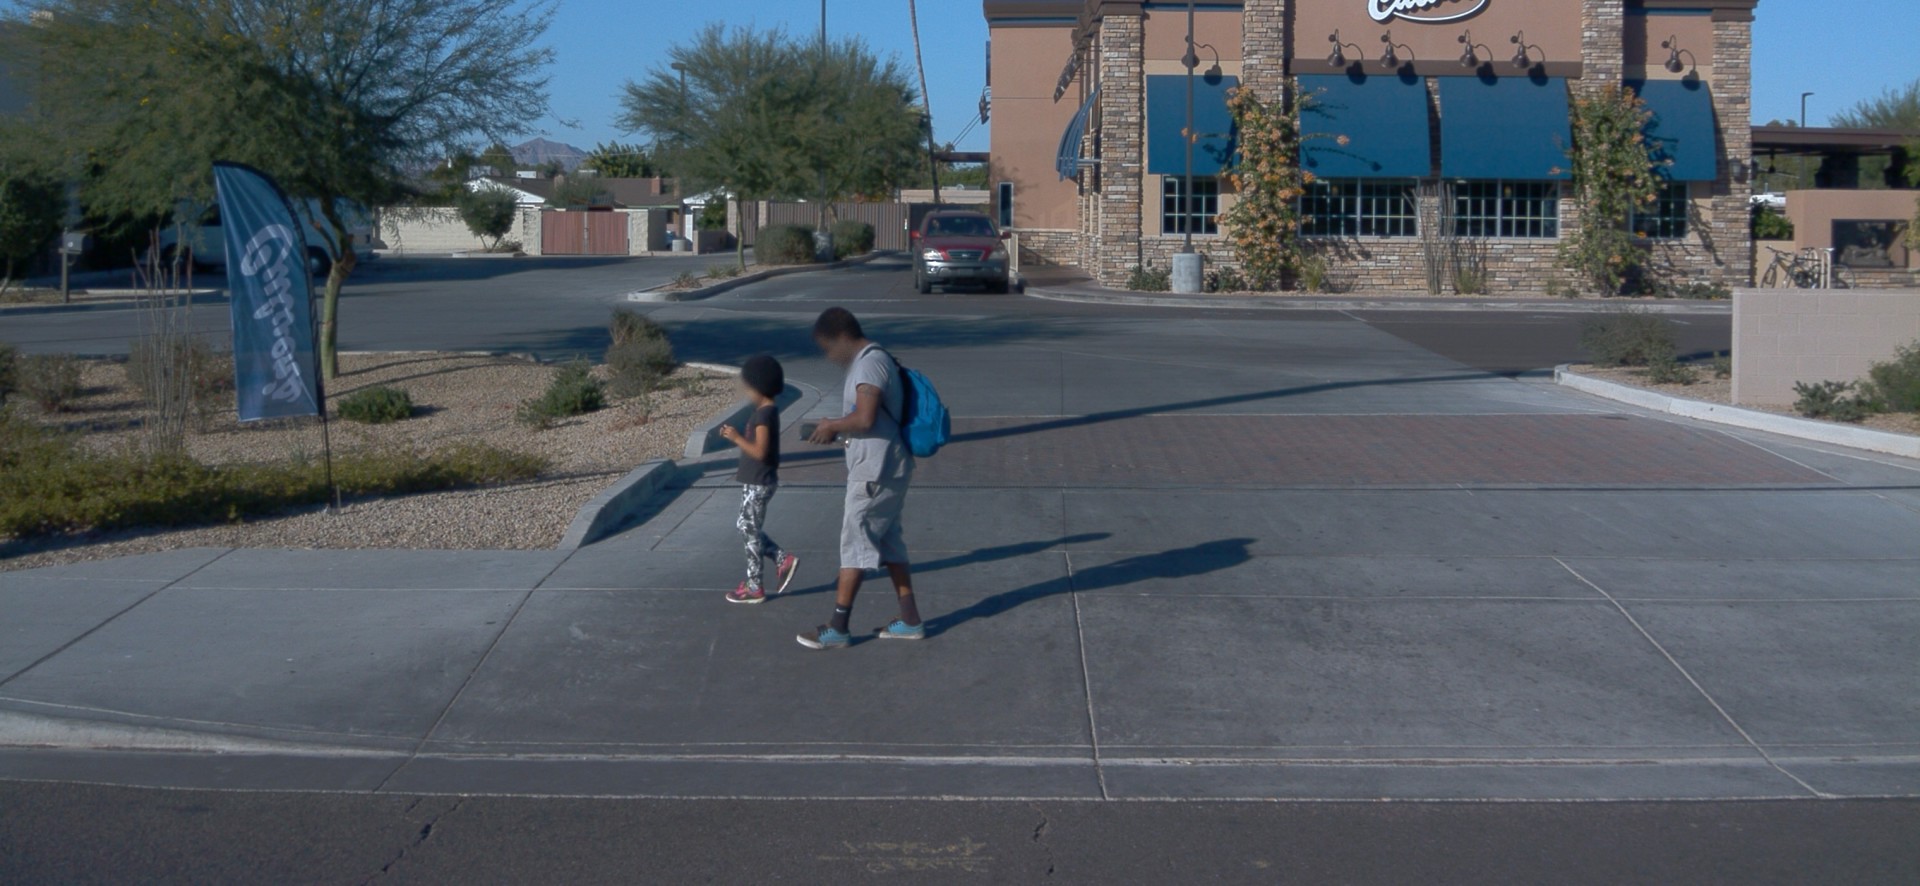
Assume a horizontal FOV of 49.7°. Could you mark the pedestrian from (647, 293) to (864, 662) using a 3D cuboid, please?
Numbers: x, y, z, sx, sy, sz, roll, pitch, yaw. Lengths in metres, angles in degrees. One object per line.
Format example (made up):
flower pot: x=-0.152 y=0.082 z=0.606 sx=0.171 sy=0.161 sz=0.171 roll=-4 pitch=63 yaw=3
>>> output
pedestrian: x=-0.969 y=0.124 z=10.064 sx=0.936 sy=1.680 sz=0.939 roll=0 pitch=1 yaw=1

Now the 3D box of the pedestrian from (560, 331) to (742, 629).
pedestrian: x=-1.602 y=0.160 z=10.765 sx=0.667 sy=1.440 sz=0.651 roll=1 pitch=1 yaw=39
